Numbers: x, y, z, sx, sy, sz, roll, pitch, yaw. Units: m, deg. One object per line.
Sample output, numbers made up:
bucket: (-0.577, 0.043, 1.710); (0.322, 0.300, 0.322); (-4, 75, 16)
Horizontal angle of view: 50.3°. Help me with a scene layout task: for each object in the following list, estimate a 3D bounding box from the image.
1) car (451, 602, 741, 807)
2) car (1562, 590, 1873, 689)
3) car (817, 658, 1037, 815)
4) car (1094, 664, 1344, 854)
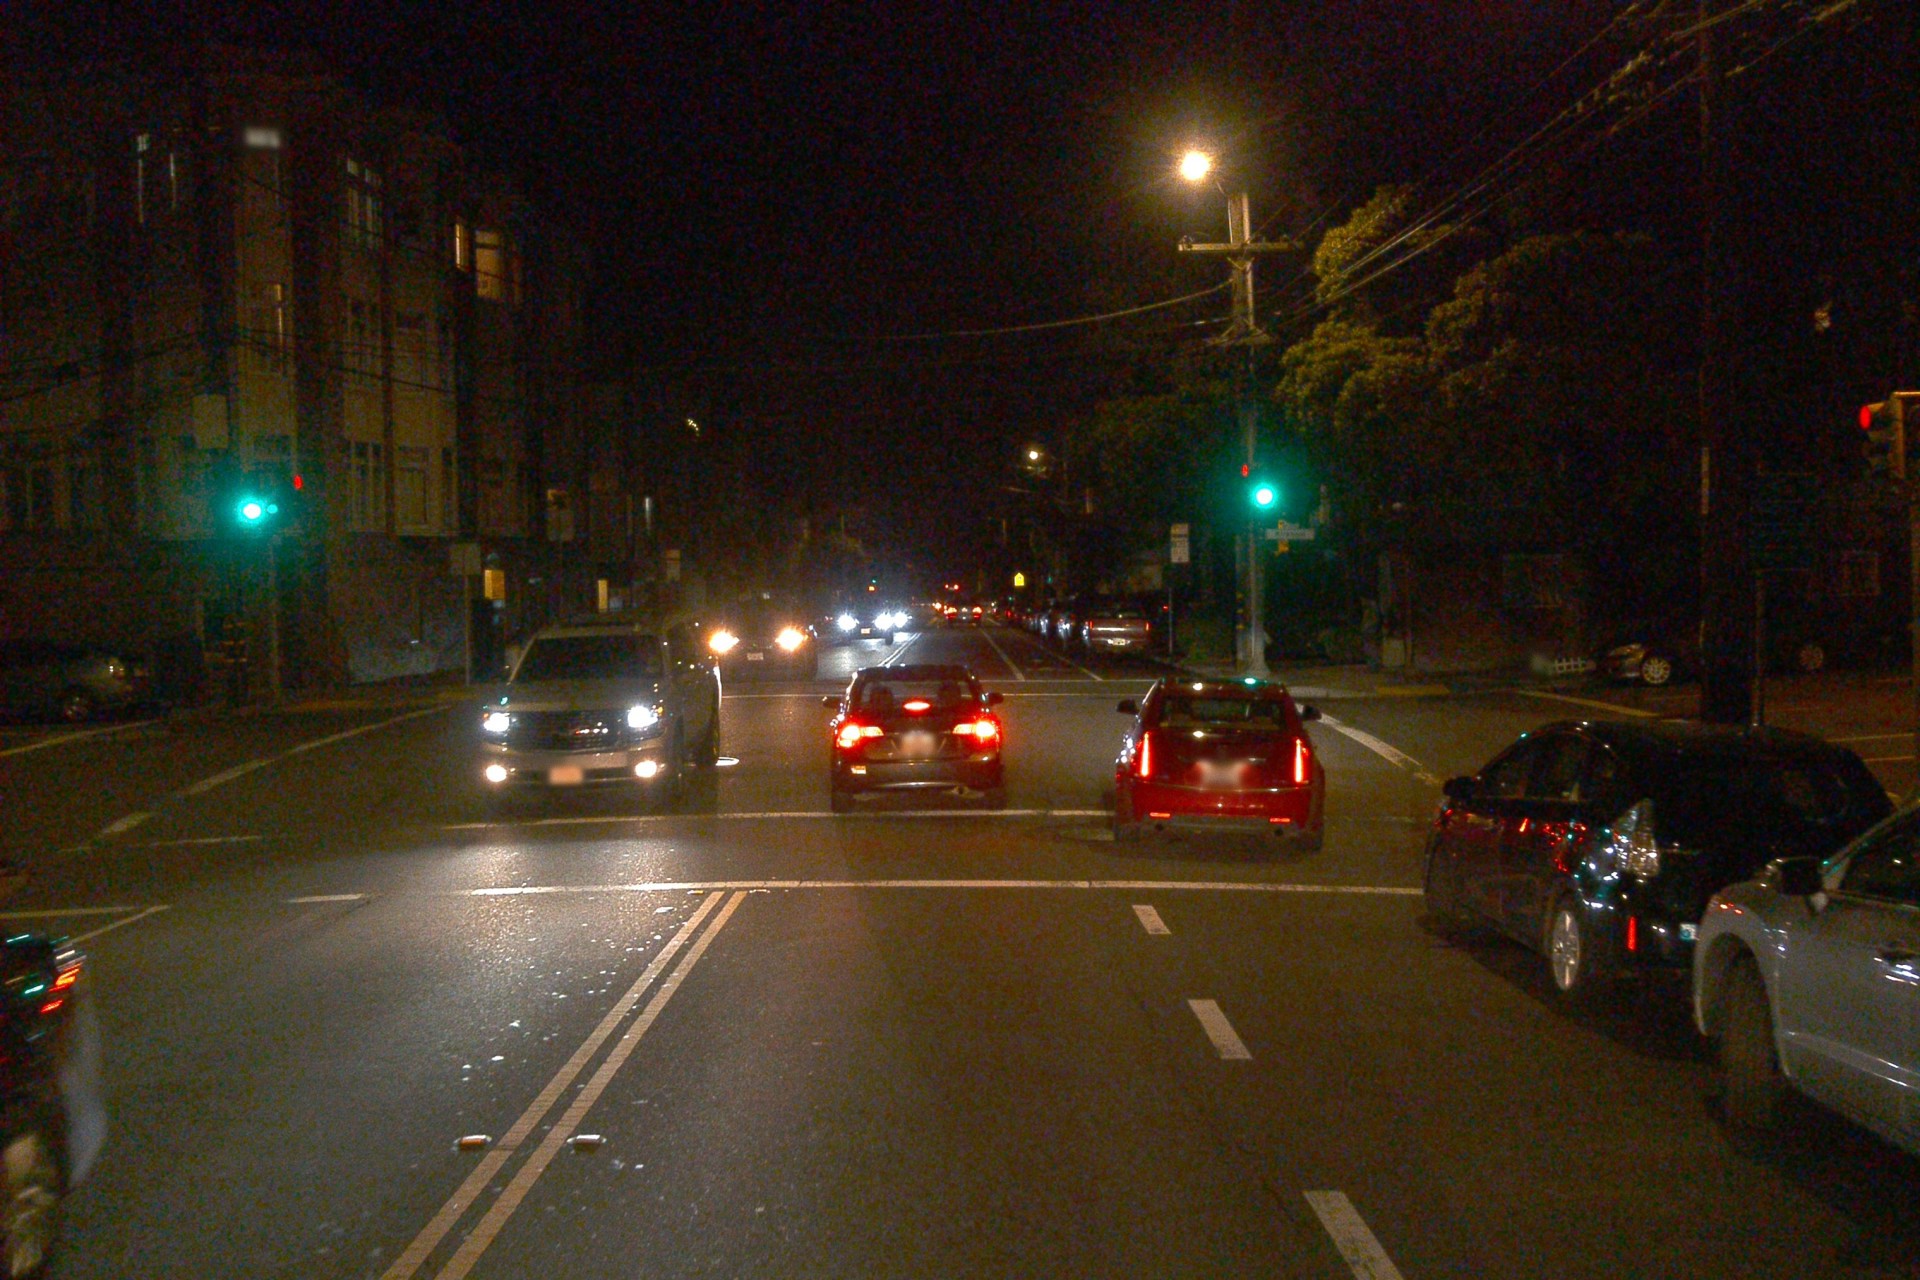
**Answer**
car: (-3.916, 0.629, 23.087); (2.281, 2.020, 5.508); (1, 0, 0)
car: (12.758, -0.003, 34.599); (4.469, 1.590, 2.013); (0, 0, -4)
car: (-0.469, 0.944, 21.753); (2.070, 1.420, 4.589); (0, 0, -4)
car: (2.444, 1.016, 19.365); (2.068, 1.490, 4.415); (1, 0, 7)
